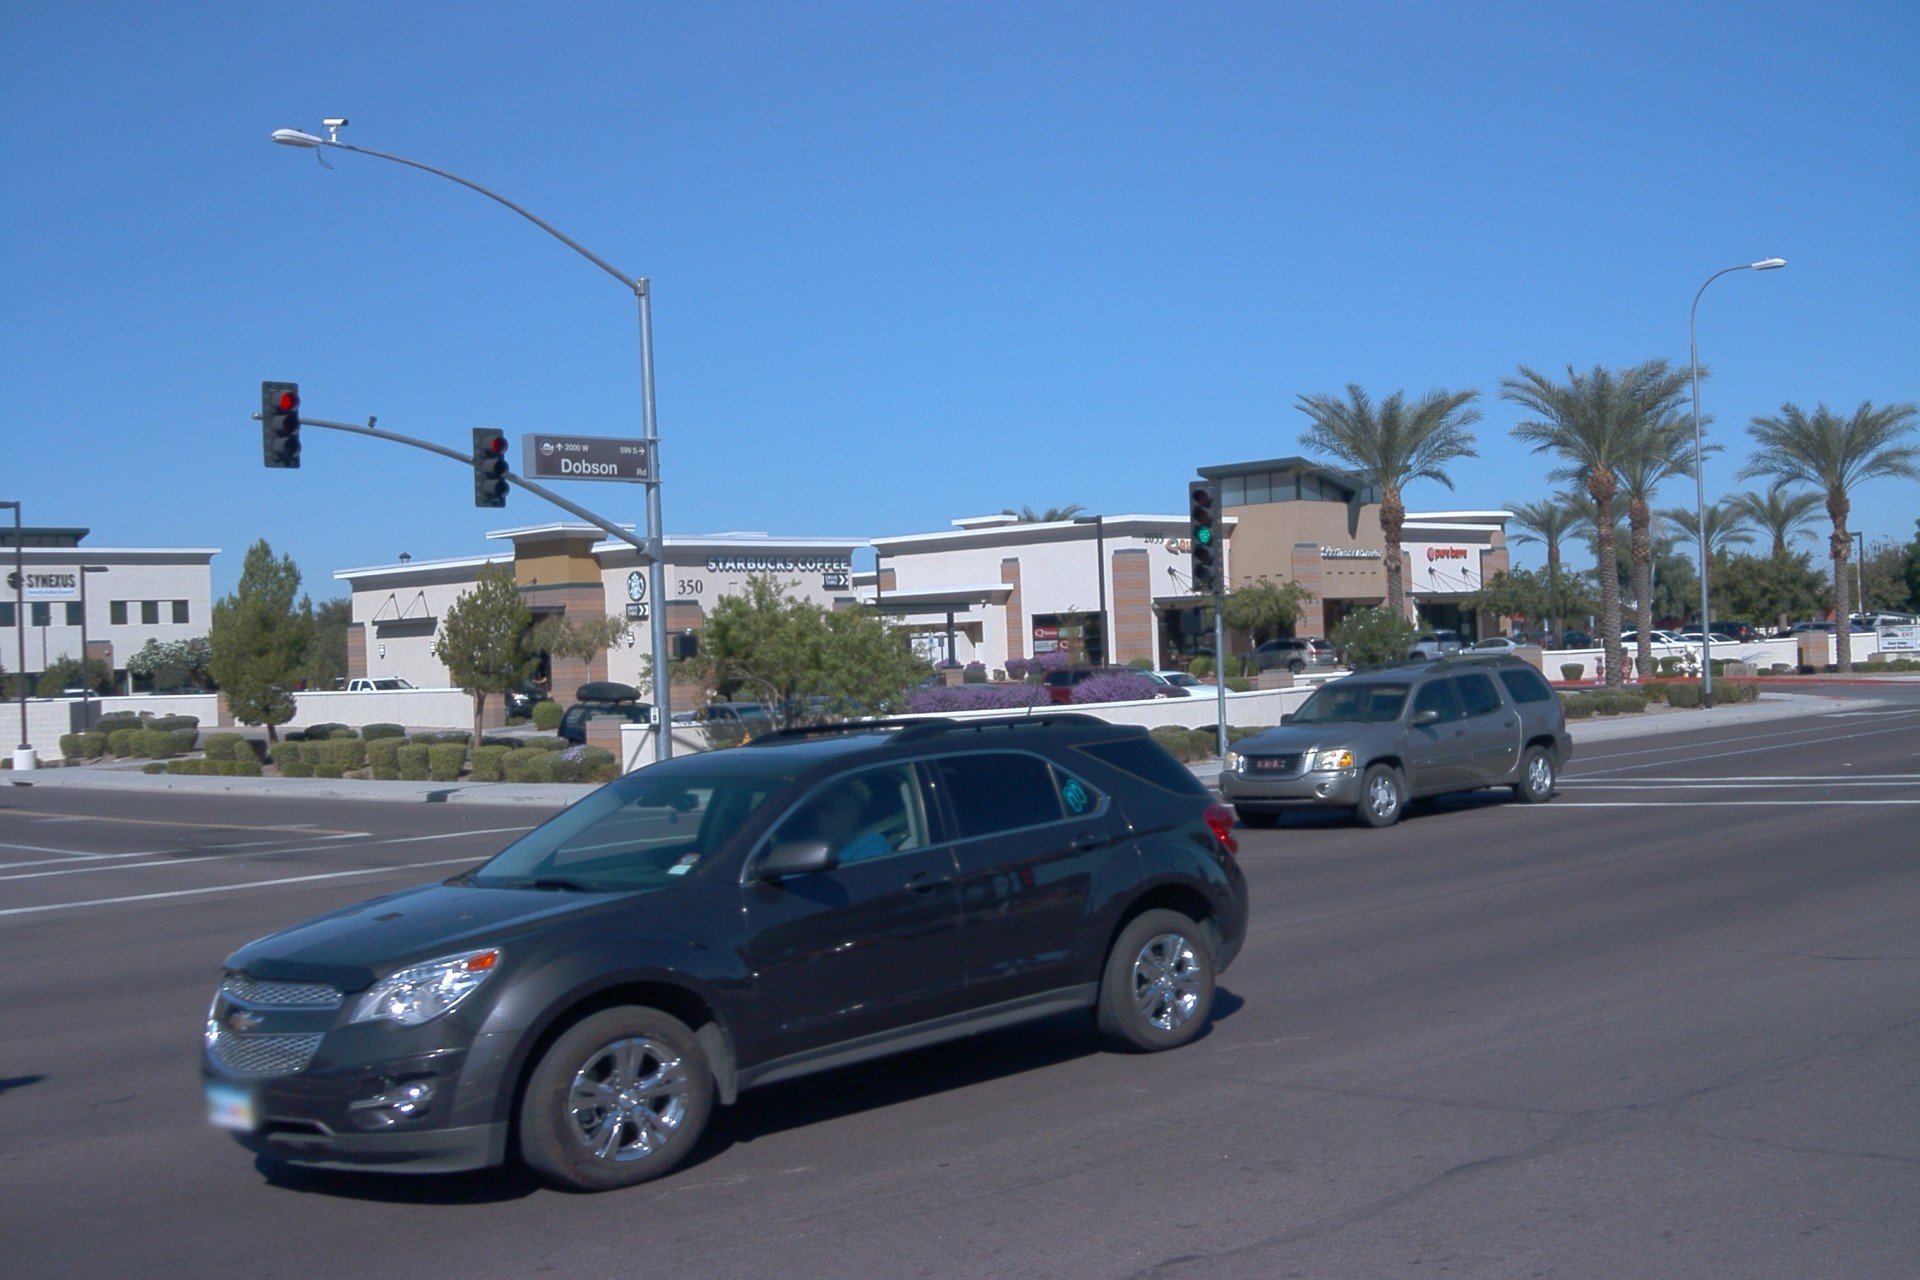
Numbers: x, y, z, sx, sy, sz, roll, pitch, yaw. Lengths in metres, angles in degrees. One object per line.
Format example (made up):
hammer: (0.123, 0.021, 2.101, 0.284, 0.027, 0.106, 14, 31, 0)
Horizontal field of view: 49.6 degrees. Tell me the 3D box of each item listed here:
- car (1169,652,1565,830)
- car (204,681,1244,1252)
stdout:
car: (4.975, 1.103, 24.867, 5.232, 1.870, 2.051, 0, 0, -45)
car: (-0.874, 1.216, 9.771, 4.635, 1.950, 1.934, 0, 0, -44)
